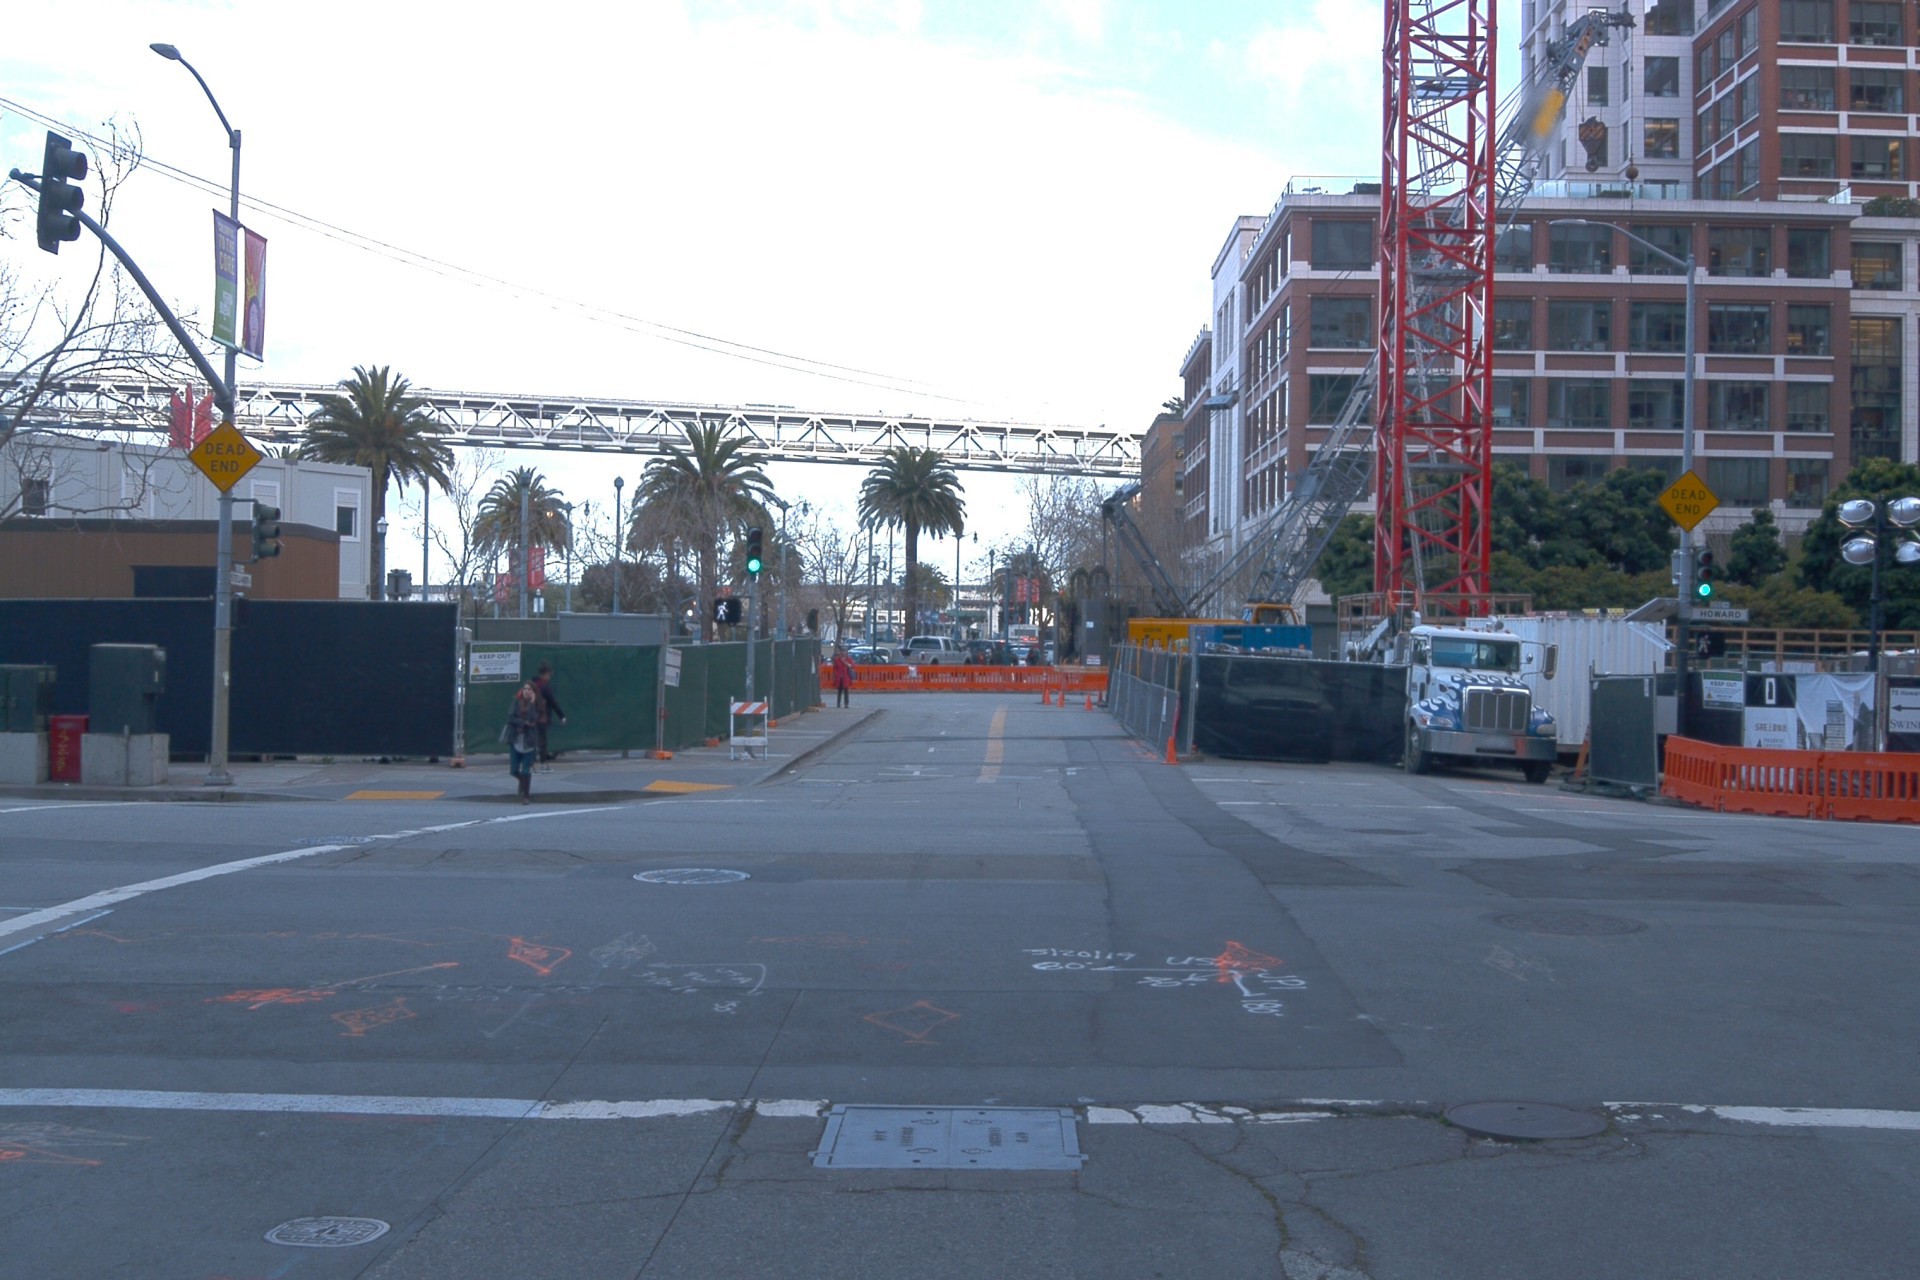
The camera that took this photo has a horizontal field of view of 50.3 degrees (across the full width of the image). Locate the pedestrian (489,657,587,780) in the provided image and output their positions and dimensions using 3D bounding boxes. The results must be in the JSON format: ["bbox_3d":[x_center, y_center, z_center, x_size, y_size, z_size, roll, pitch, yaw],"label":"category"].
[{"bbox_3d":[-6.227,1.133,30.208,0.772,1.760,1.195,1,0,35],"label":"pedestrian"}]

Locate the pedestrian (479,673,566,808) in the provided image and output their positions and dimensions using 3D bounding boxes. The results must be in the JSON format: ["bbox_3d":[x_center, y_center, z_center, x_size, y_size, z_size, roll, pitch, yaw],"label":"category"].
[{"bbox_3d":[-5.791,1.310,27.126,0.847,1.720,1.093,1,0,4],"label":"pedestrian"}]
